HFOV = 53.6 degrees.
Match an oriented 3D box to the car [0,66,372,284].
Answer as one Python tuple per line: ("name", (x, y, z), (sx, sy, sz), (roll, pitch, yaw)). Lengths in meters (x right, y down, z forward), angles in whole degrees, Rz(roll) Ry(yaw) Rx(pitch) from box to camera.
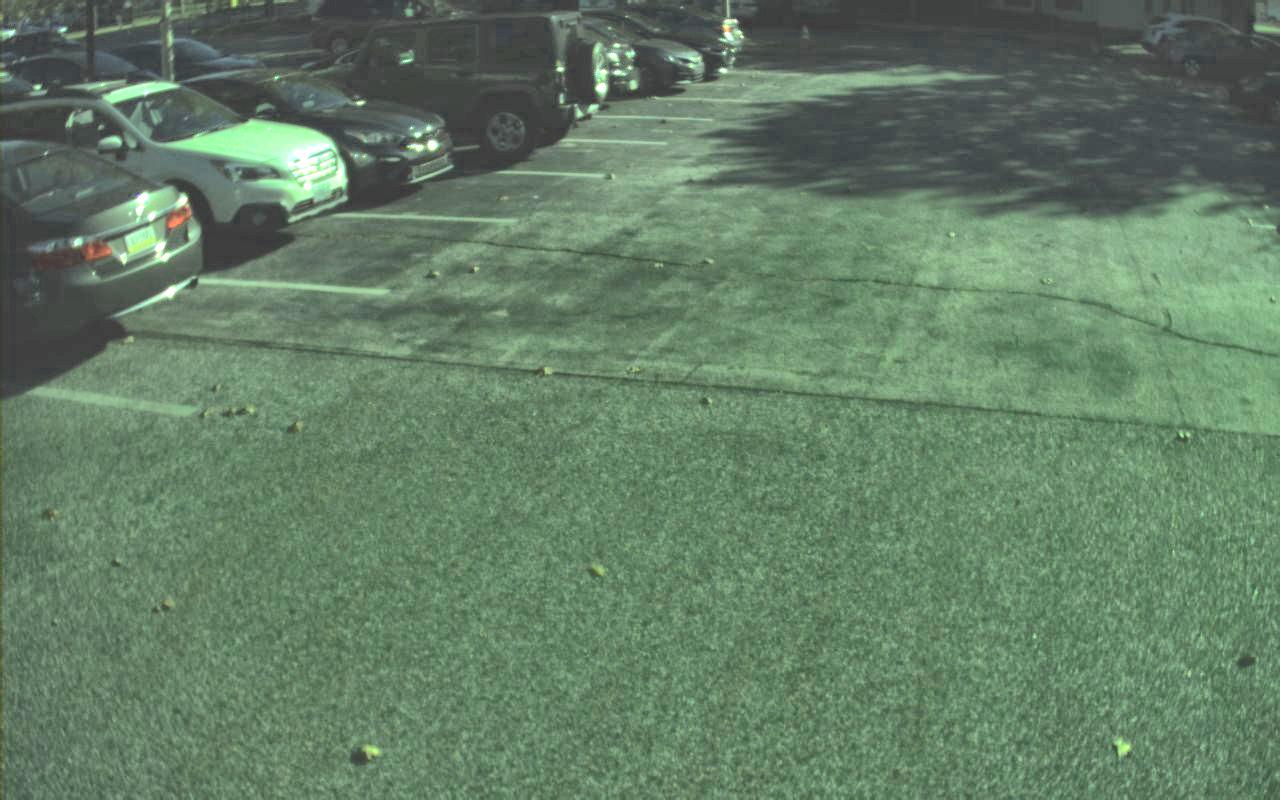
("car", (-5.091, -2.223, 11.432), (4.606, 1.692, 2.006), (5, 17, 18))

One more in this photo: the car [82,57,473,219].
("car", (-4.268, -2.988, 13.716), (4.329, 1.540, 1.922), (5, 17, 19))

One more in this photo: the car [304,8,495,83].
("car", (-6.496, -9.488, 32.404), (4.795, 1.708, 2.040), (4, 17, 17))

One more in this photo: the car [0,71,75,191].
("car", (-11.933, -4.540, 18.582), (4.519, 1.608, 1.983), (5, 17, 20))

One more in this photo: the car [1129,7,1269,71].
("car", (17.726, -11.369, 35.588), (4.464, 1.659, 1.976), (3, 17, 13))

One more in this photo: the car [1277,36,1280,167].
("car", (12.363, -4.715, 16.572), (4.470, 1.635, 1.969), (5, 17, 19))

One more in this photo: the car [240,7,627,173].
("car", (-2.712, -4.043, 15.894), (4.659, 1.911, 2.048), (3, 17, 15))

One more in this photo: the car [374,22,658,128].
("car", (-2.111, -5.501, 20.779), (4.372, 1.628, 1.976), (5, 17, 19))

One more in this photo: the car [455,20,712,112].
("car", (-1.038, -6.239, 22.998), (4.412, 1.591, 1.939), (4, 17, 16))

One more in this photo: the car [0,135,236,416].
("car", (-5.515, -1.091, 8.717), (4.548, 1.547, 1.962), (5, 17, 20))

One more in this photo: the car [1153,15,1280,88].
("car", (16.529, -9.646, 30.939), (4.592, 1.620, 1.982), (4, 17, 17))

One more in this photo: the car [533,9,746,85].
("car", (0.022, -7.980, 27.791), (4.427, 1.625, 1.982), (4, 17, 15))
